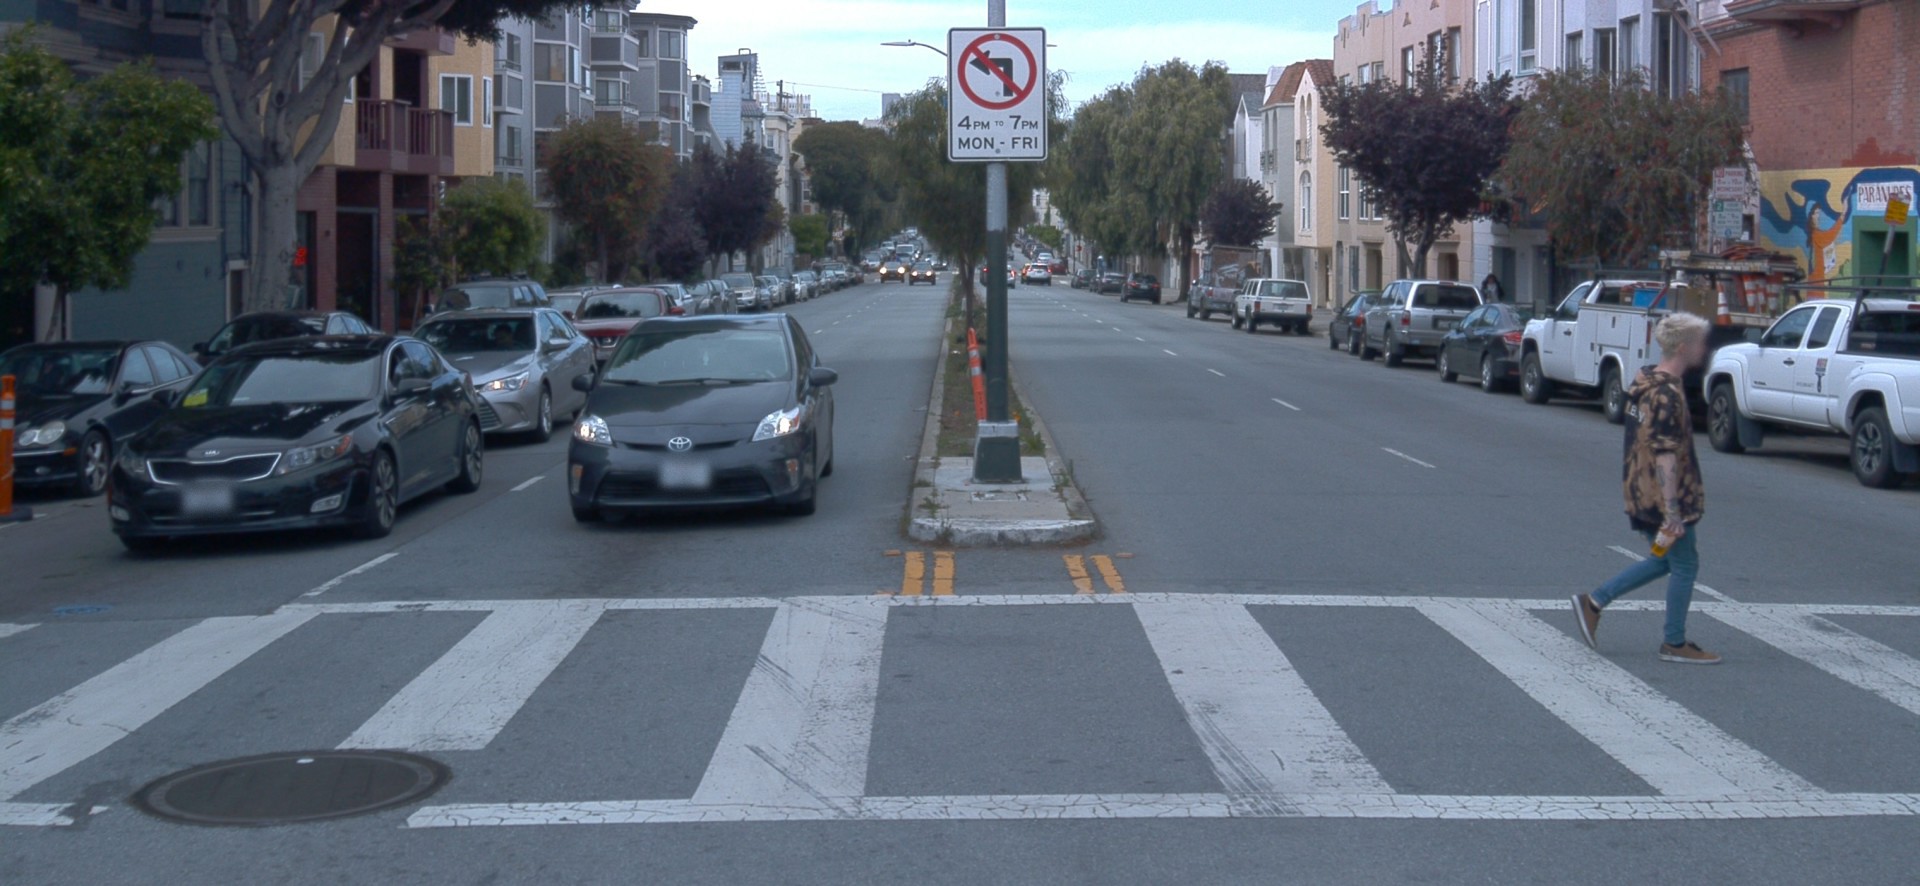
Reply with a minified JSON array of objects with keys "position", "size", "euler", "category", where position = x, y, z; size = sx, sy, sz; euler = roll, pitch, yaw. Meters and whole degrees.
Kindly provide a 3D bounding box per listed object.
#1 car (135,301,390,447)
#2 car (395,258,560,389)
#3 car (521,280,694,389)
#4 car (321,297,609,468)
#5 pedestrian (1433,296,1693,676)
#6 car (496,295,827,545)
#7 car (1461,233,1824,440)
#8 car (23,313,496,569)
[{"position":[-8.942,-0.981,26.775],"size":[1.968,1.573,4.413],"euler":[0,5,-2],"category":"car"},{"position":[-8.793,-2.268,37.841],"size":[1.930,2.181,4.352],"euler":[0,5,1],"category":"car"},{"position":[-5.699,-1.838,33.786],"size":[2.064,1.563,4.372],"euler":[0,5,0],"category":"car"},{"position":[-5.512,-0.788,23.577],"size":[2.173,1.603,4.694],"euler":[0,6,0],"category":"car"},{"position":[2.926,0.173,10.076],"size":[1.050,1.758,0.794],"euler":[0,2,2],"category":"pedestrian"},{"position":[-2.228,-0.322,16.619],"size":[2.037,1.583,4.533],"euler":[0,6,0],"category":"car"},{"position":[8.781,-1.569,27.294],"size":[2.675,2.399,6.154],"euler":[0,5,-1],"category":"car"},{"position":[-5.210,-0.163,16.121],"size":[2.129,1.493,4.789],"euler":[0,6,-1],"category":"car"}]
